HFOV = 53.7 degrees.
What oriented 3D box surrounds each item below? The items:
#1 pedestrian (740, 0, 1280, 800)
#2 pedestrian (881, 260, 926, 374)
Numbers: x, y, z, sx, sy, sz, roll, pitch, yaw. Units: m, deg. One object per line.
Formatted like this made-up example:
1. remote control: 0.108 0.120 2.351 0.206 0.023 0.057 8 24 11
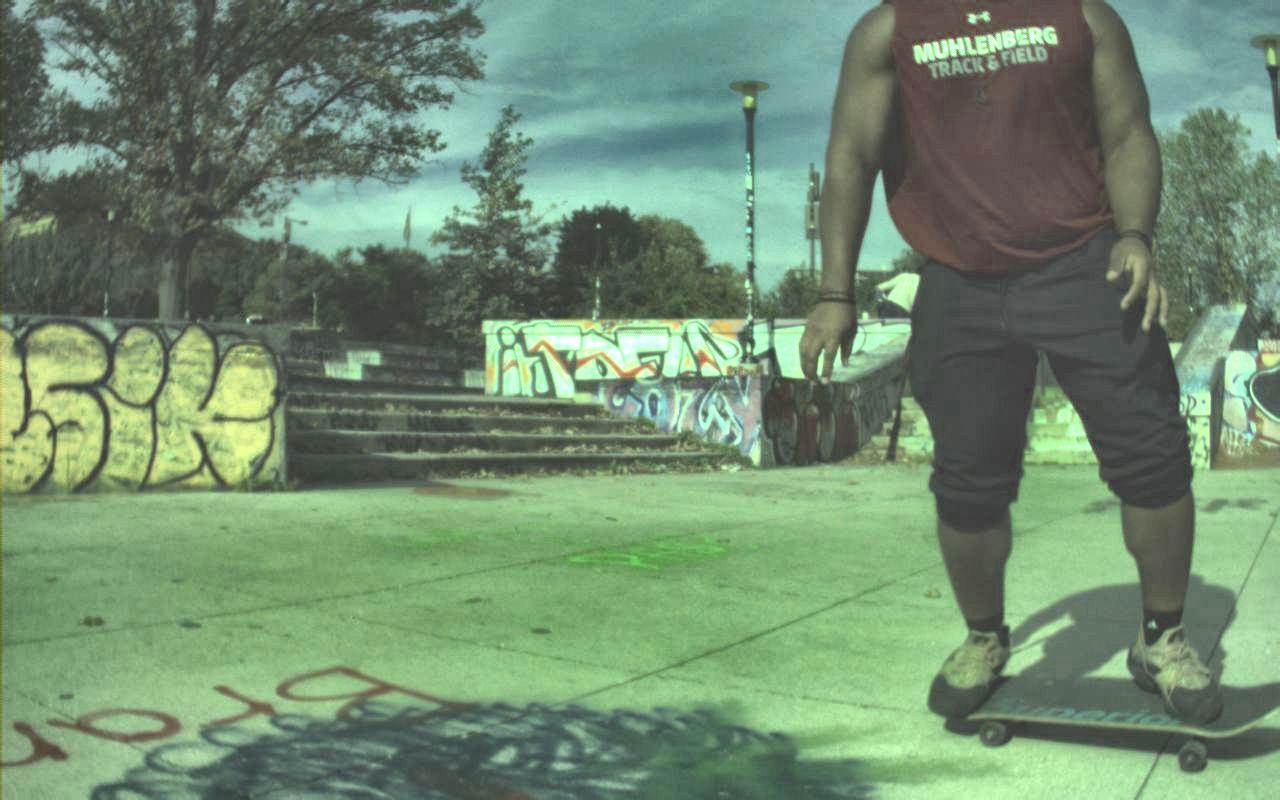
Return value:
1. pedestrian: 0.825 -0.119 2.119 0.974 1.593 0.877 1 0 34
2. pedestrian: 4.358 -1.348 20.543 0.732 1.851 0.716 0 0 13
